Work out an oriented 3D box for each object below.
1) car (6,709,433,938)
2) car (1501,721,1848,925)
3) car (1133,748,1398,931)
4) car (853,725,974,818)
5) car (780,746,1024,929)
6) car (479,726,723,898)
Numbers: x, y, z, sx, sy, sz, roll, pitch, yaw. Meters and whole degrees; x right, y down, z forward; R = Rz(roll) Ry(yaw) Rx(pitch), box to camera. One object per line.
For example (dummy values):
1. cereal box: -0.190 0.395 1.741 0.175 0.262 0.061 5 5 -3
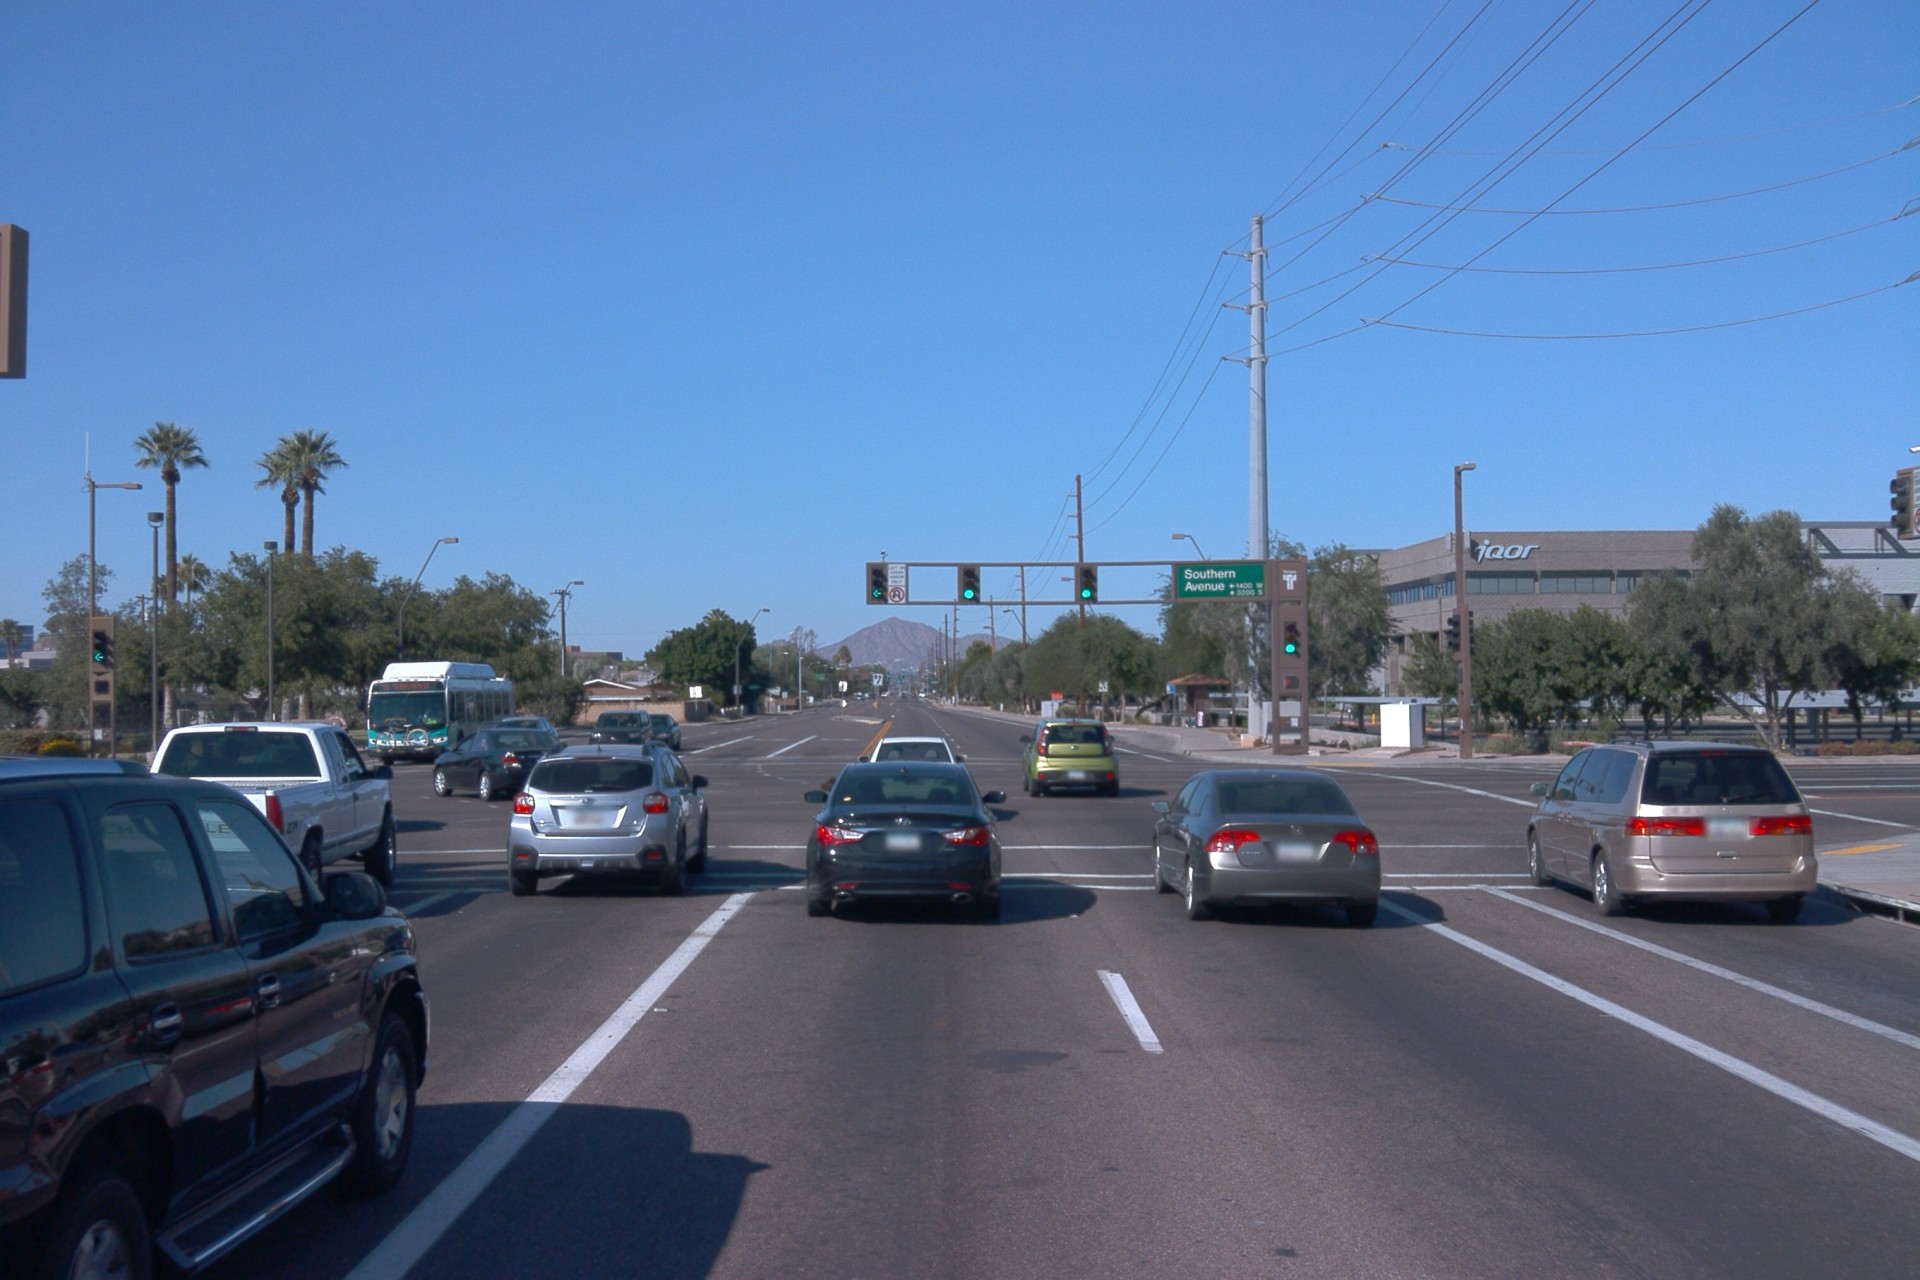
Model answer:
1. car: -7.206 1.702 21.075 2.492 1.900 6.197 0 -1 -4
2. car: 7.331 1.807 21.885 2.224 1.810 4.939 0 -1 4
3. car: 2.951 1.922 21.008 1.907 1.500 4.575 0 -1 -1
4. car: -0.821 2.248 36.200 1.969 1.400 5.048 0 -1 -1
5. car: -0.569 1.883 20.859 2.156 1.470 4.806 0 -1 -1
6. car: -3.866 1.821 23.121 2.076 1.610 4.769 0 -1 -2
